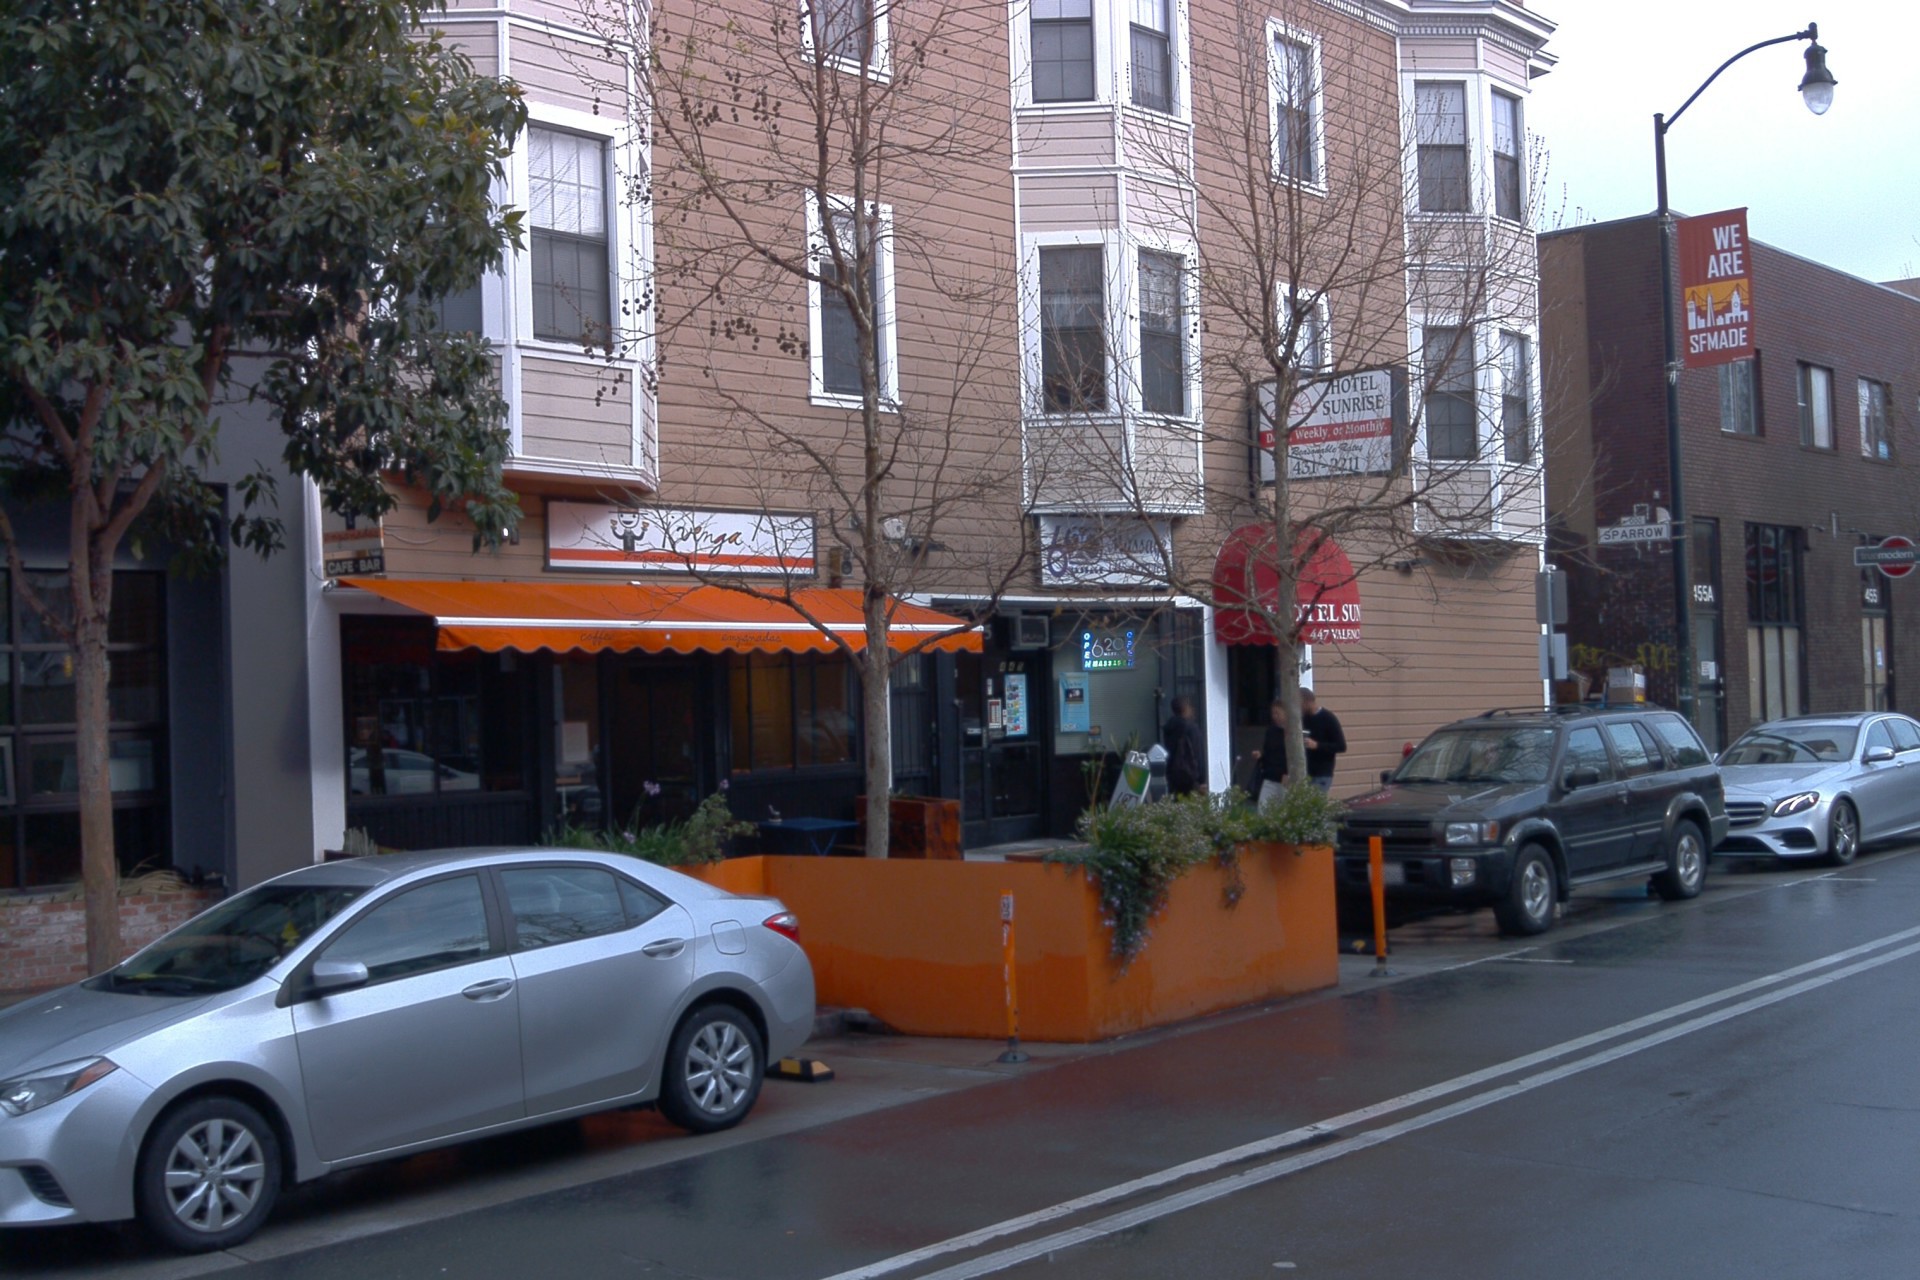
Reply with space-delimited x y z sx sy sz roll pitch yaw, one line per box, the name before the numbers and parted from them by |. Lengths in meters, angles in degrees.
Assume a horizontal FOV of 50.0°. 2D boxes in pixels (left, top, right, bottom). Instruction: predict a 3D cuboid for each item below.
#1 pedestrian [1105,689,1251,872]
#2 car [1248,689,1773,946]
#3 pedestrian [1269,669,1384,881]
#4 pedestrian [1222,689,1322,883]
pedestrian | 2.245 1.412 21.125 0.998 1.756 1.181 1 1 38
car | 4.788 1.353 17.481 4.696 1.690 2.245 -1 1 -45
pedestrian | 3.496 1.266 19.641 0.692 1.941 0.813 -1 1 -42
pedestrian | 3.085 1.423 20.344 0.643 1.841 0.733 -1 1 -41
